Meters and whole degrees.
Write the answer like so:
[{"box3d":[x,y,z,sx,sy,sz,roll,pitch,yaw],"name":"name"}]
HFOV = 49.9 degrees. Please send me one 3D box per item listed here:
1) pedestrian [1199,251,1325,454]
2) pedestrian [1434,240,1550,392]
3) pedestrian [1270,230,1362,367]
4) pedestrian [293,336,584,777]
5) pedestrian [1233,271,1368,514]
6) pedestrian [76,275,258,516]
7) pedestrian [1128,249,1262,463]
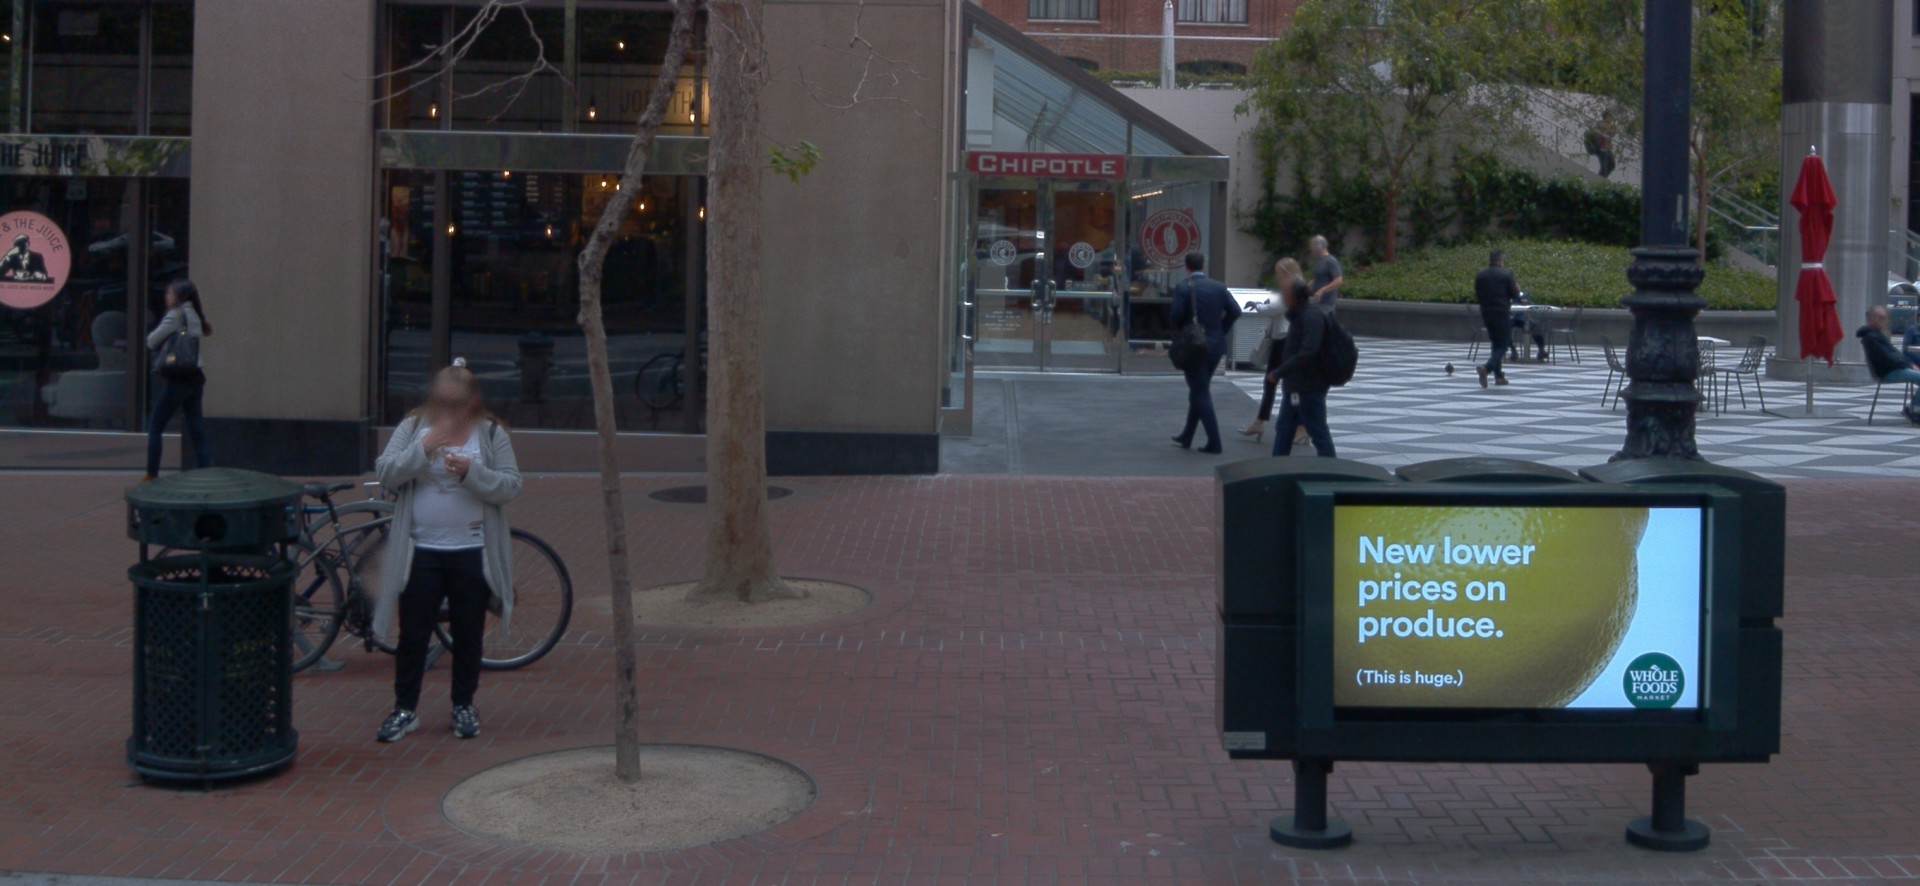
[{"box3d":[2.783,-0.863,18.950,0.980,1.801,0.892,0,1,20],"name":"pedestrian"},{"box3d":[6.398,-1.556,24.837,0.995,1.771,1.006,1,1,42],"name":"pedestrian"},{"box3d":[4.768,-1.948,27.598,1.048,1.791,0.886,0,1,22],"name":"pedestrian"},{"box3d":[-2.169,0.425,8.696,0.905,1.701,0.918,0,1,8],"name":"pedestrian"},{"box3d":[2.524,-0.399,15.385,0.893,1.761,0.754,0,1,0],"name":"pedestrian"},{"box3d":[-5.876,-0.383,15.343,0.937,1.711,0.903,0,1,7],"name":"pedestrian"},{"box3d":[2.075,-0.798,18.274,0.941,1.841,0.795,0,1,-17],"name":"pedestrian"}]
